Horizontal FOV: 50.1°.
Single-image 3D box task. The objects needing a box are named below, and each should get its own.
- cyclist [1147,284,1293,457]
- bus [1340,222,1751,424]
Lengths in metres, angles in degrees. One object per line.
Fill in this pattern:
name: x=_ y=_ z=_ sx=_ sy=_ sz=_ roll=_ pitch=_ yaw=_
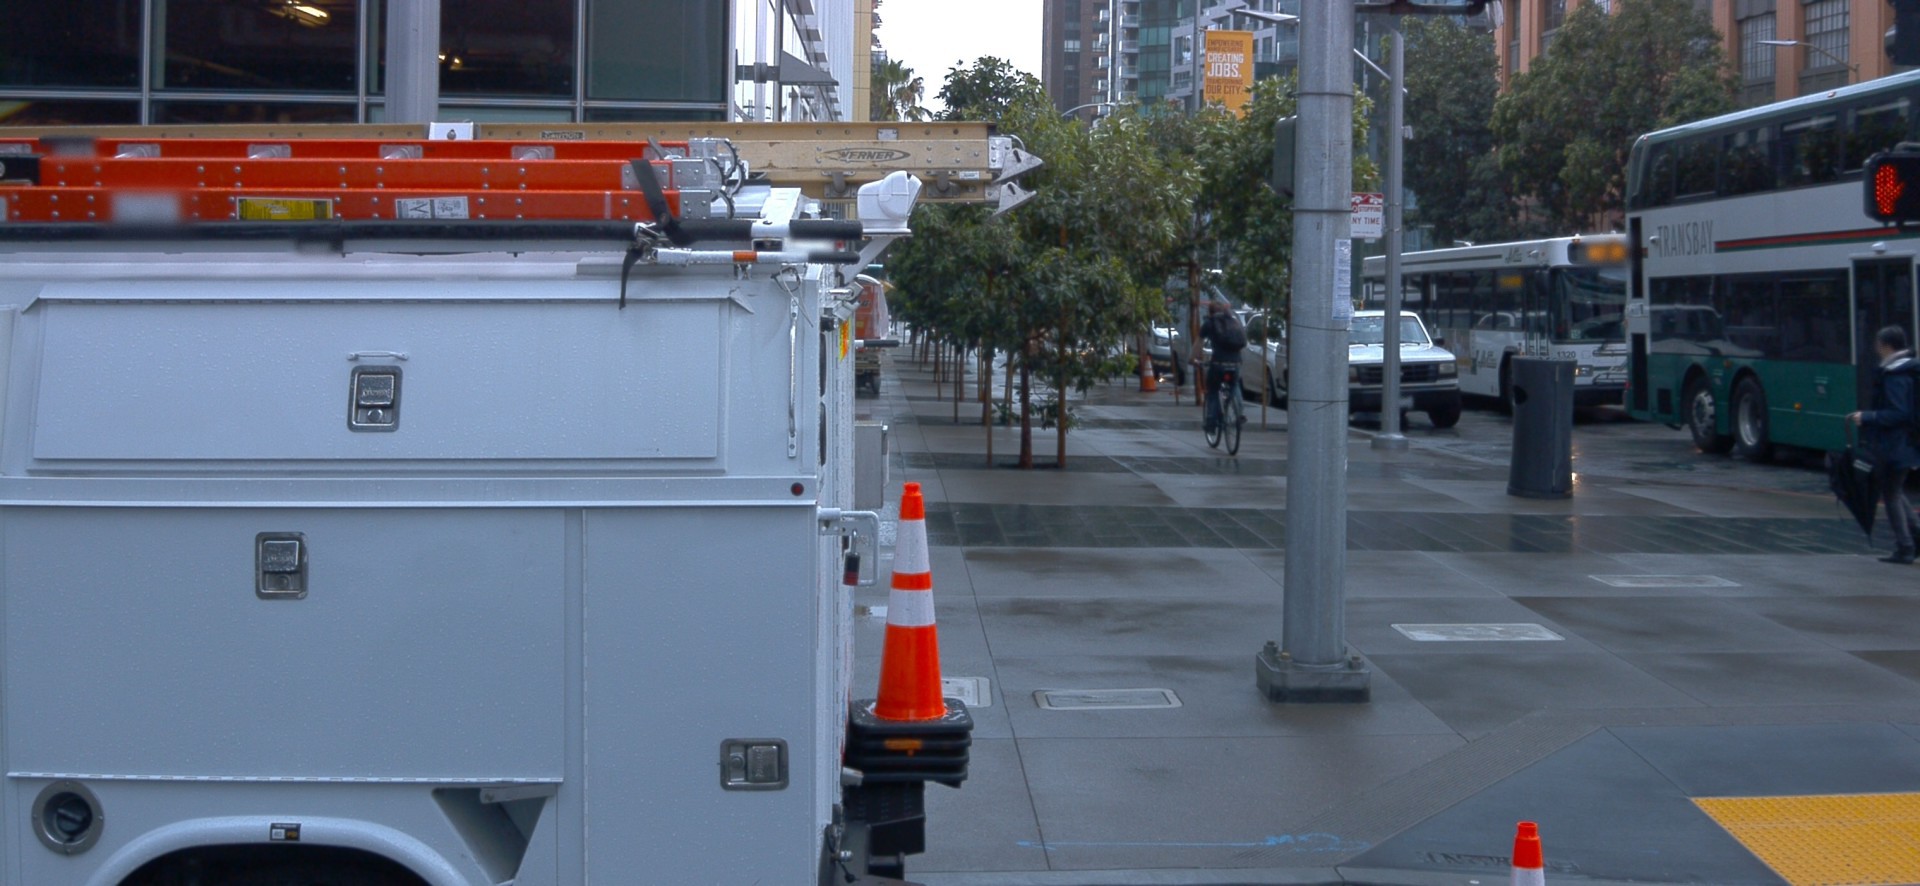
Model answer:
cyclist: x=2.796 y=-0.827 z=22.374 sx=1.210 sy=1.741 sz=2.030 roll=0 pitch=4 yaw=-4
bus: x=9.877 y=-2.430 z=36.831 sx=3.258 sy=2.996 sz=12.707 roll=0 pitch=6 yaw=-2
